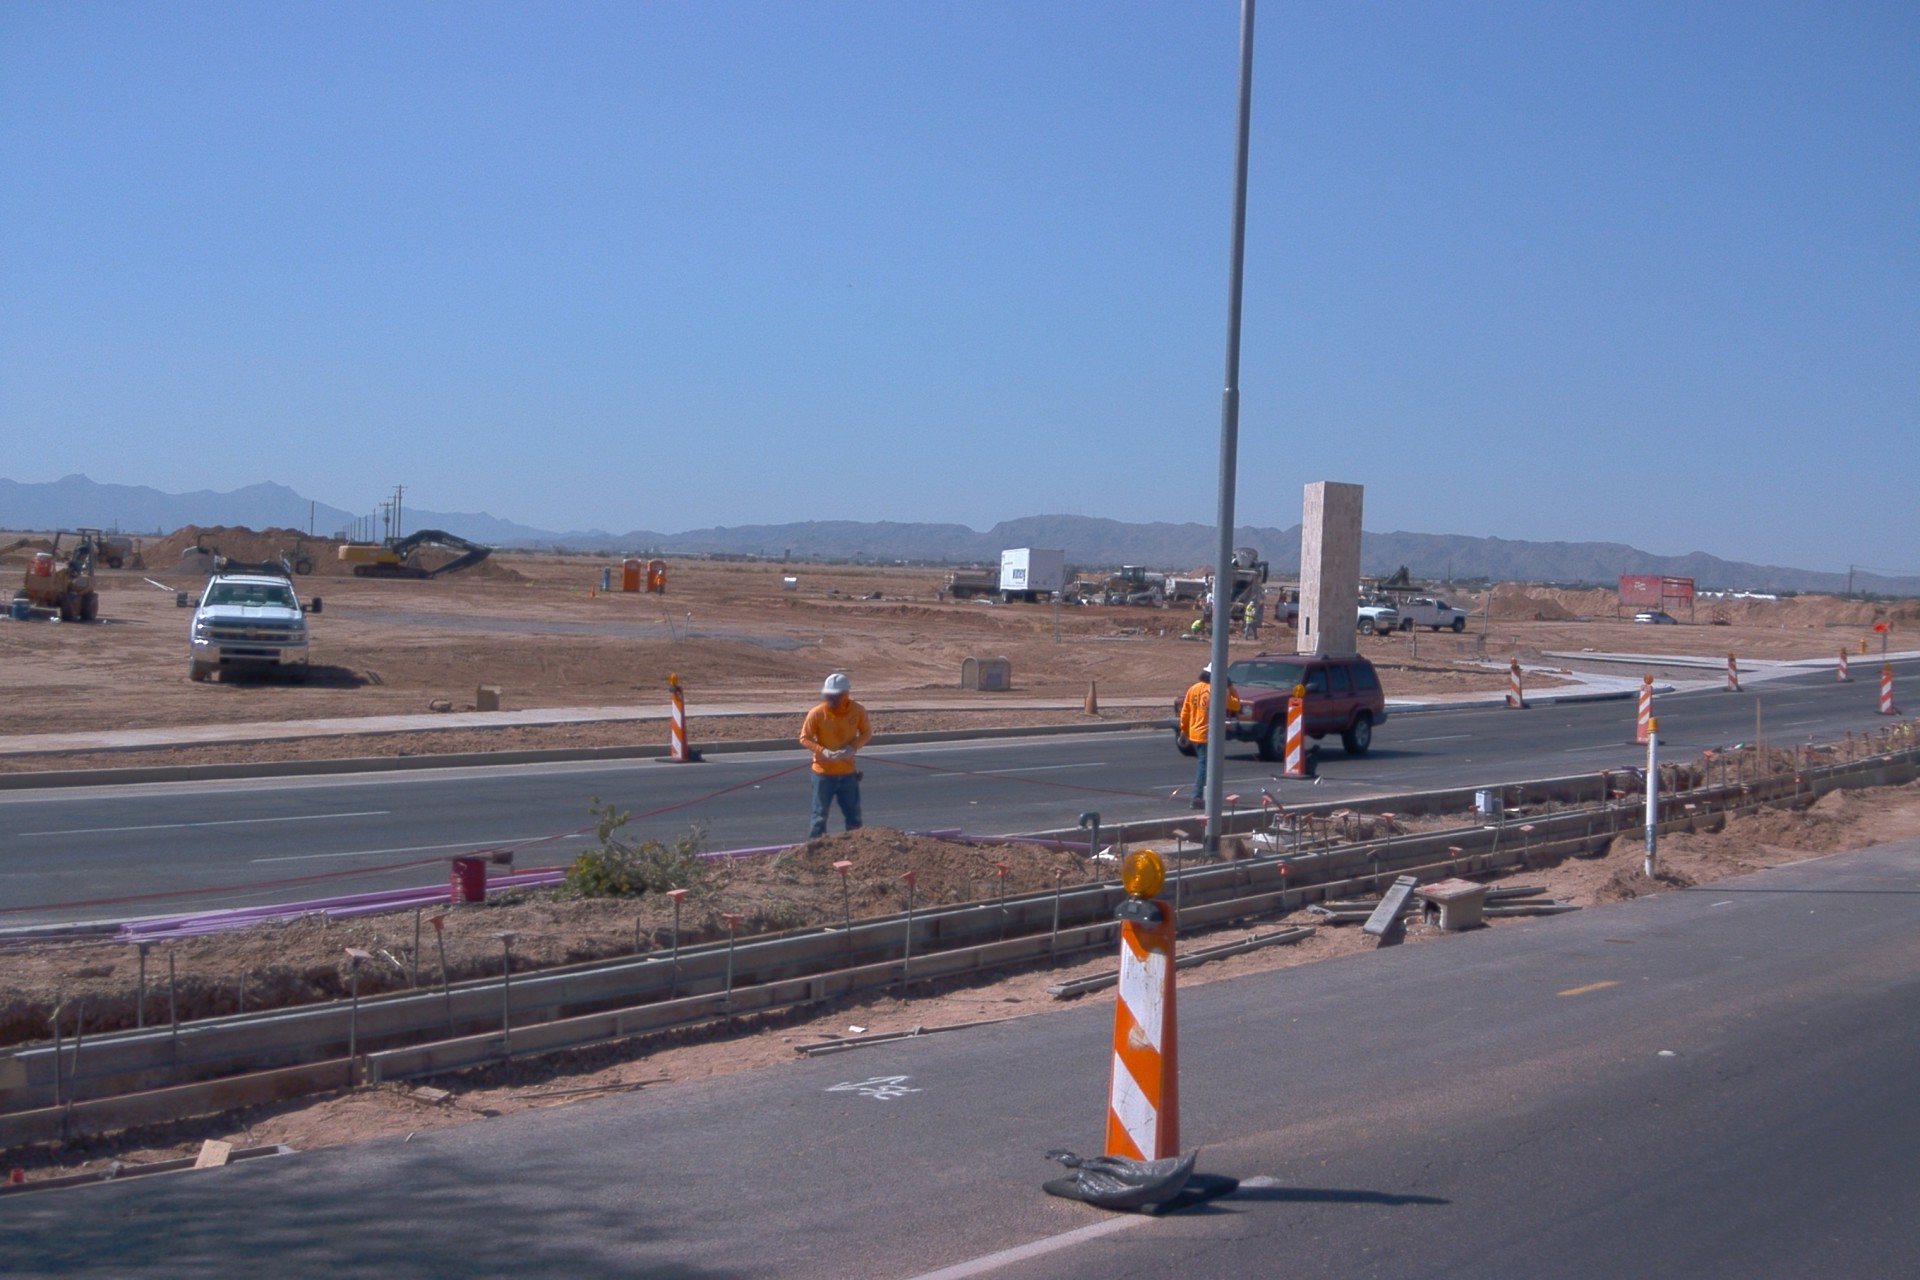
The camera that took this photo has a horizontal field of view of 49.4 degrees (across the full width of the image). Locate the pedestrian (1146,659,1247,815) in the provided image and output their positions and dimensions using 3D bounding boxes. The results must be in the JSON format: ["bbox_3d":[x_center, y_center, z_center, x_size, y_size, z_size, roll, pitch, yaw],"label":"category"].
[{"bbox_3d":[2.723,1.103,24.056,0.743,1.740,0.859,1,0,-37],"label":"pedestrian"}]

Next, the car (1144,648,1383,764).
[{"bbox_3d":[4.983,1.023,33.843,1.892,1.740,4.239,1,0,39],"label":"car"}]

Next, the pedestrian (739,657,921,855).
[{"bbox_3d":[-1.129,0.974,17.968,1.324,1.630,0.907,1,0,-23],"label":"pedestrian"}]
